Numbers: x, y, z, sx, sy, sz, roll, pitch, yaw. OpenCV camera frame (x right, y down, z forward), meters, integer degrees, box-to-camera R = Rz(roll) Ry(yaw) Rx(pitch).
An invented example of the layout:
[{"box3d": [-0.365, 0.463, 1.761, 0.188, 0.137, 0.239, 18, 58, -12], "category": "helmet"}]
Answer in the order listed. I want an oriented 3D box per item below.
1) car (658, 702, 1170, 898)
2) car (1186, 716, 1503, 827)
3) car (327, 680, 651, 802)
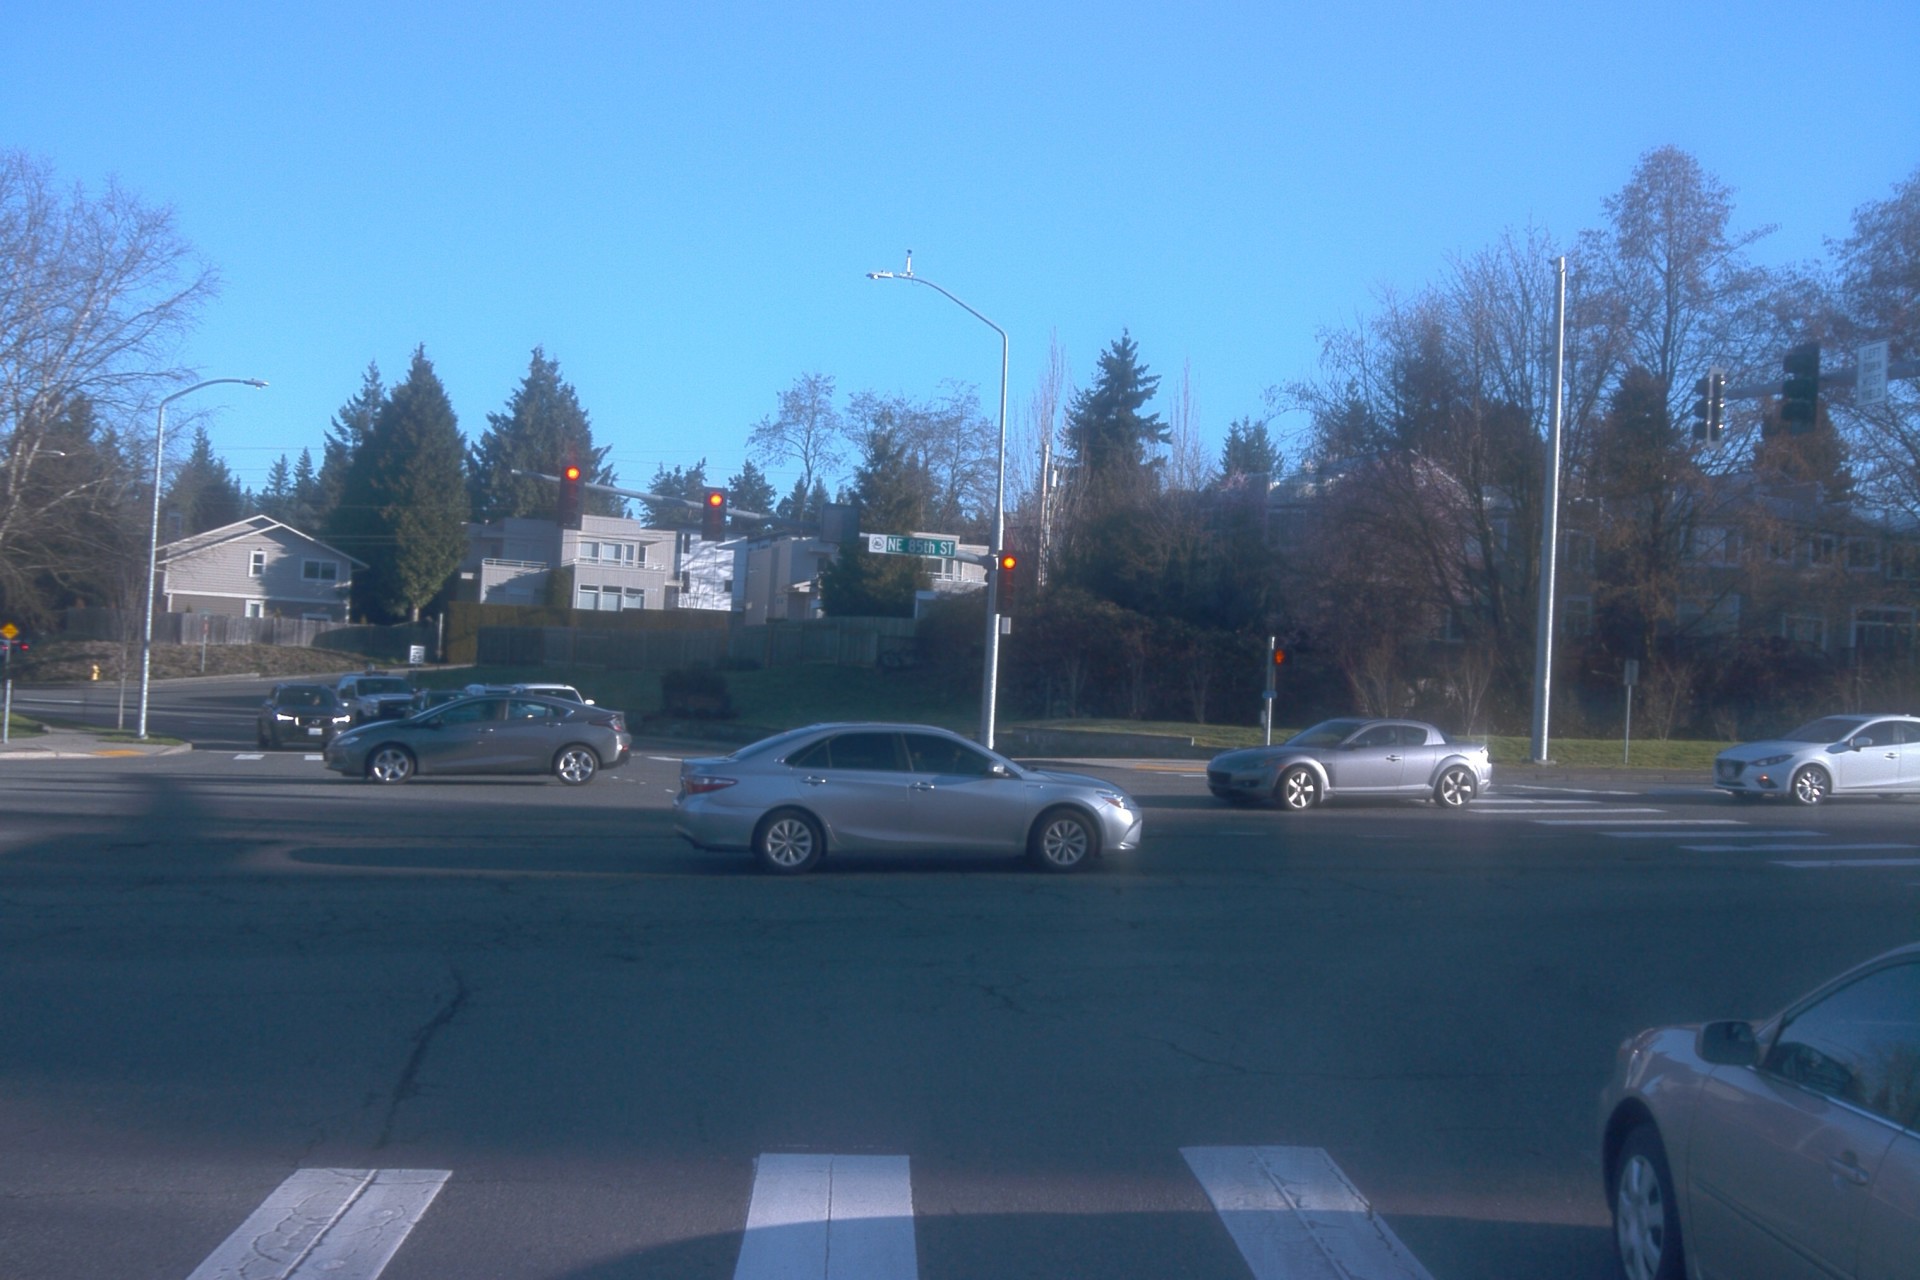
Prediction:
[{"box3d": [-0.529, 1.561, 20.499, 4.846, 1.760, 1.981, 1, 0, -11], "category": "car"}, {"box3d": [5.685, 1.900, 30.211, 4.304, 1.450, 1.815, 1, 0, -24], "category": "car"}, {"box3d": [-7.345, 1.566, 32.067, 4.781, 1.770, 1.886, 1, 0, -13], "category": "car"}]
